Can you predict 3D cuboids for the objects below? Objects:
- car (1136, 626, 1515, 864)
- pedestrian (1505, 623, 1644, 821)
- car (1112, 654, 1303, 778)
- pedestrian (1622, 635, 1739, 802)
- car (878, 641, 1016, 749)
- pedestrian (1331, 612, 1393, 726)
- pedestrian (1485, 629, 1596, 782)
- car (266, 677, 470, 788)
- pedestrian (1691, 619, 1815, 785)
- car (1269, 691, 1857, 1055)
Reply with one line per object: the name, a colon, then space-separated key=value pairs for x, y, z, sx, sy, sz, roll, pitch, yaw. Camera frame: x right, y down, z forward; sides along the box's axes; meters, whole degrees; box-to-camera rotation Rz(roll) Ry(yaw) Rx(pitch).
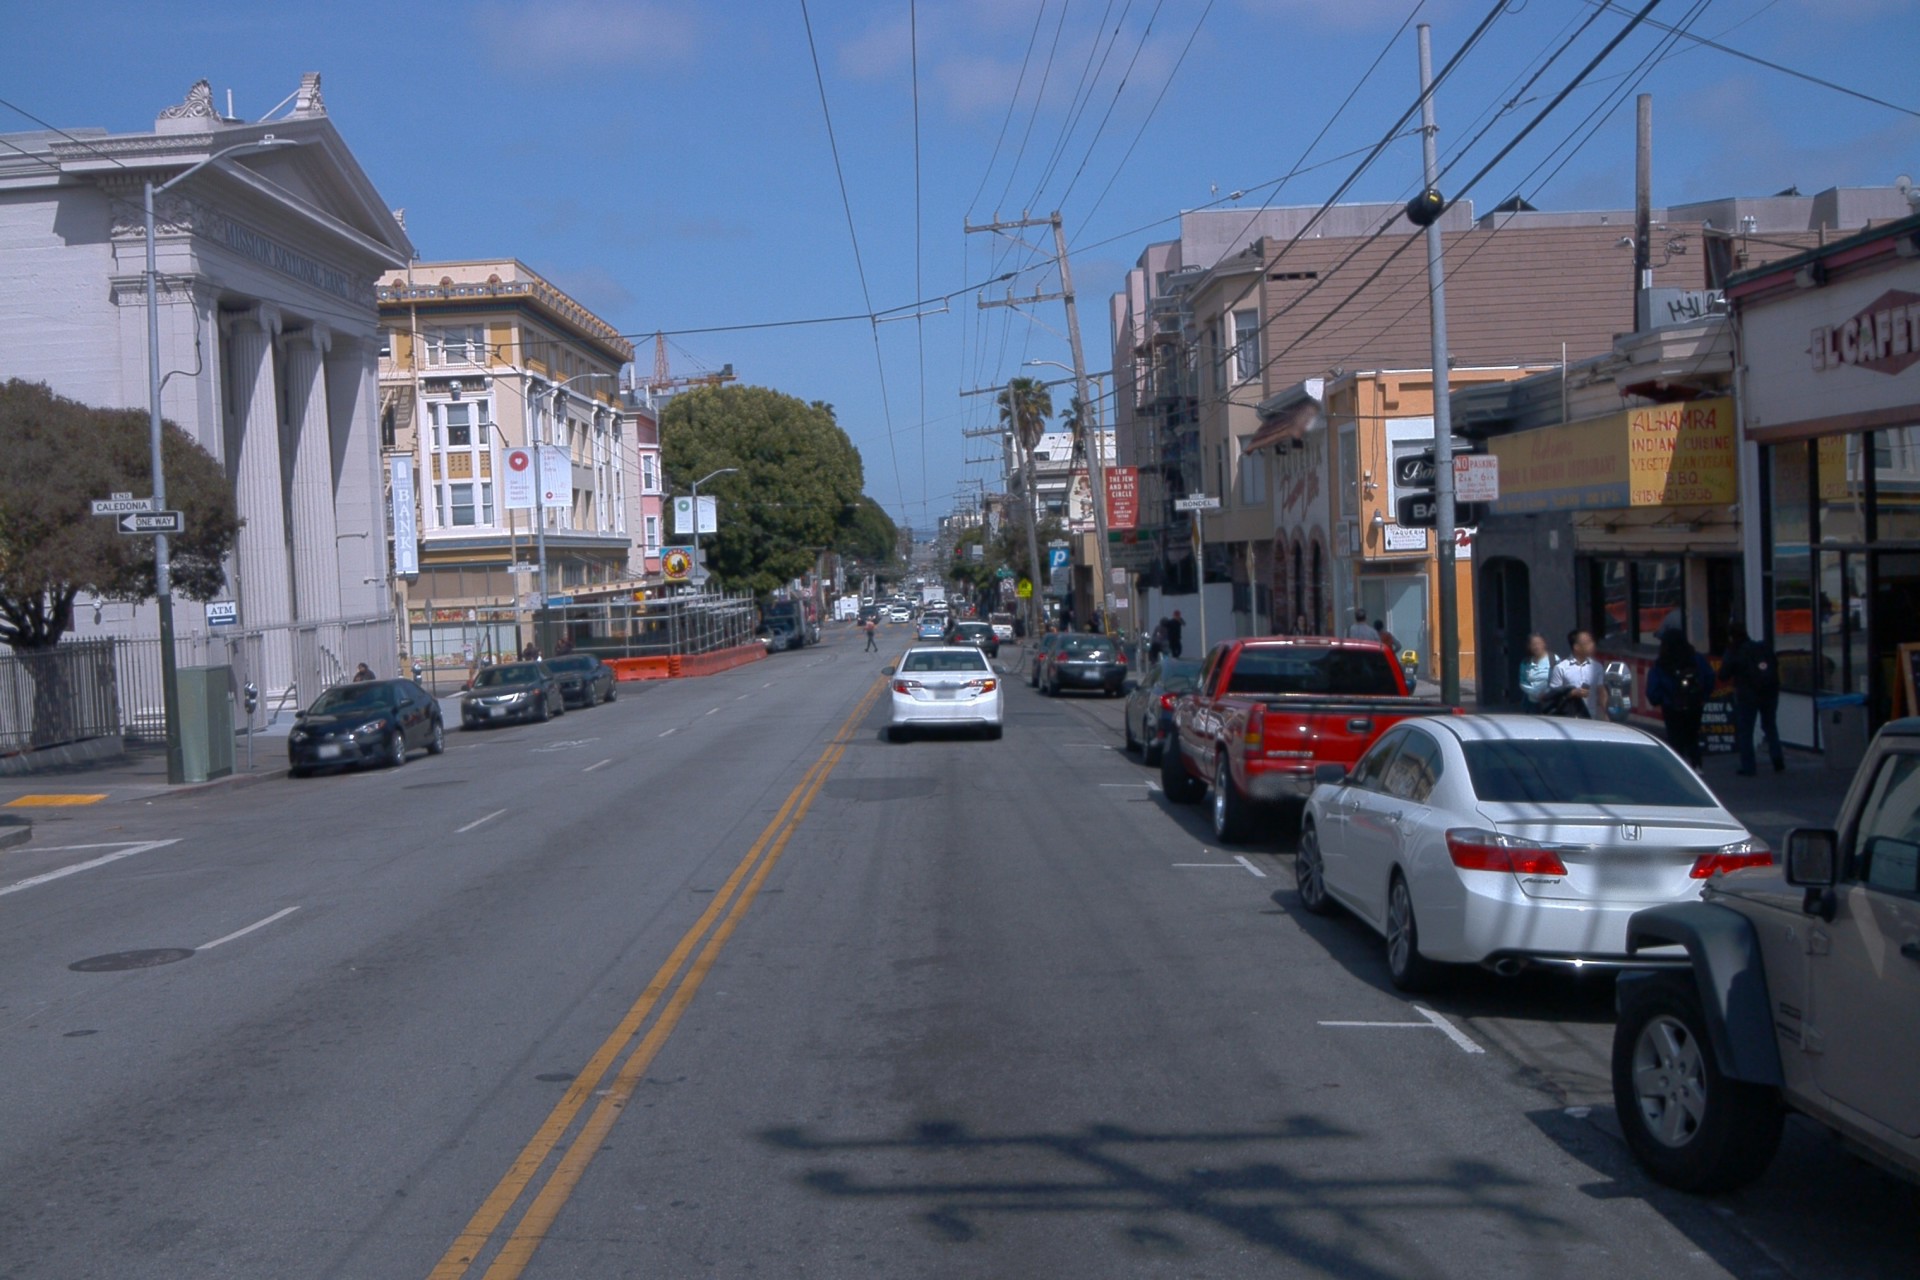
car: x=3.253 y=0.841 z=19.743 sx=2.362 sy=1.910 sz=5.681 roll=0 pitch=1 yaw=-3
pedestrian: x=5.639 y=0.726 z=18.922 sx=0.866 sy=1.760 sz=1.172 roll=0 pitch=1 yaw=-4
car: x=3.255 y=0.966 z=27.883 sx=1.867 sy=1.460 sz=4.426 roll=0 pitch=1 yaw=-2
pedestrian: x=6.787 y=0.723 z=19.409 sx=0.766 sy=1.530 sz=0.959 roll=0 pitch=1 yaw=0
car: x=-0.206 y=0.830 z=33.286 sx=2.079 sy=1.570 sz=4.571 roll=0 pitch=1 yaw=0
pedestrian: x=6.335 y=0.444 z=32.442 sx=0.846 sy=1.780 sz=0.702 roll=0 pitch=1 yaw=1
pedestrian: x=6.264 y=0.683 z=22.188 sx=0.734 sy=1.600 sz=0.888 roll=-1 pitch=1 yaw=-42
car: x=-9.914 y=1.502 z=34.826 sx=2.049 sy=1.610 sz=4.711 roll=0 pitch=1 yaw=1
pedestrian: x=7.816 y=0.596 z=20.287 sx=0.918 sy=1.600 sz=0.702 roll=0 pitch=1 yaw=-6
car: x=3.298 y=1.196 z=12.425 sx=2.105 sy=1.580 sz=4.859 roll=0 pitch=1 yaw=0
